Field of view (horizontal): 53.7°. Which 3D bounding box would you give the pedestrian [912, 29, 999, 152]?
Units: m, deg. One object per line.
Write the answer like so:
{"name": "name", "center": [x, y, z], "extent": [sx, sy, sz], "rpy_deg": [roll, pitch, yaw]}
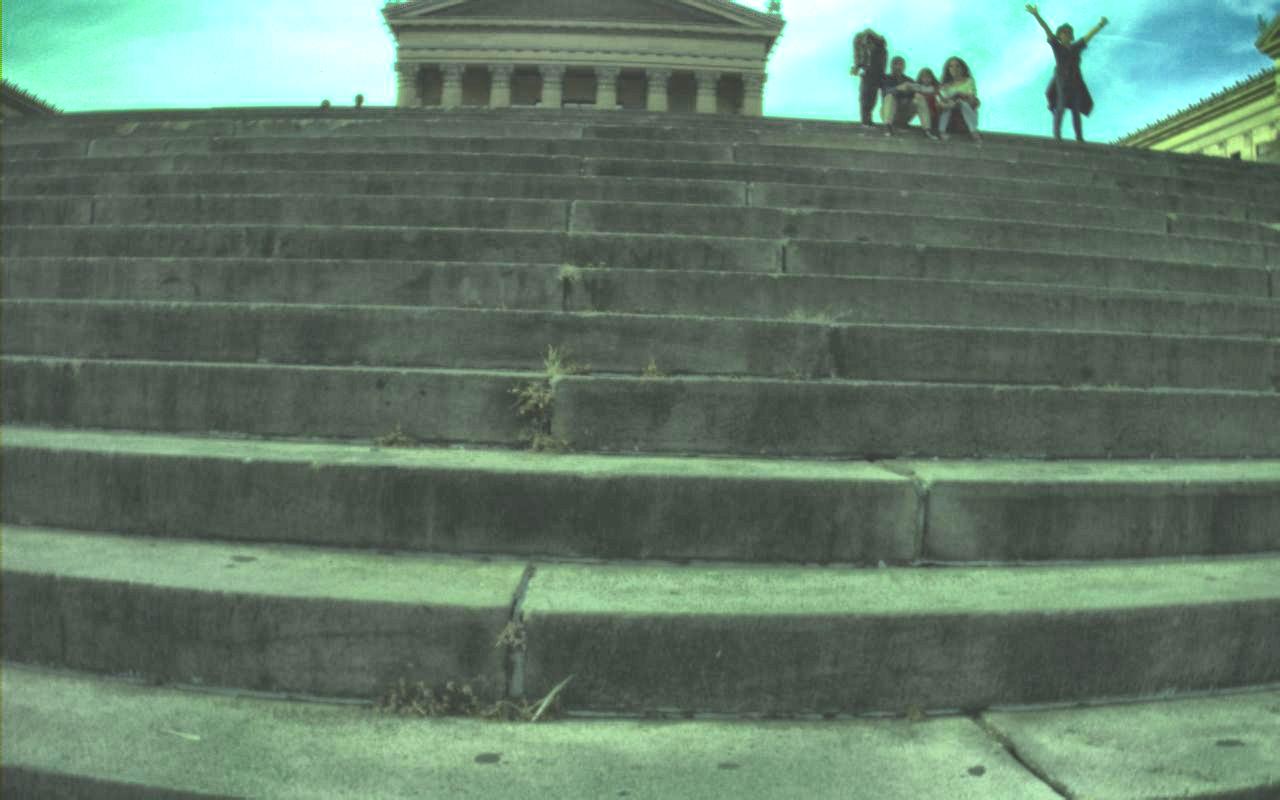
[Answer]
{"name": "pedestrian", "center": [3.618, -3.529, 13.895], "extent": [0.717, 1.259, 0.764], "rpy_deg": [0, 0, -12]}

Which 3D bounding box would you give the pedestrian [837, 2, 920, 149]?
{"name": "pedestrian", "center": [2.689, -3.656, 13.835], "extent": [0.709, 1.529, 0.714], "rpy_deg": [0, 0, -11]}
